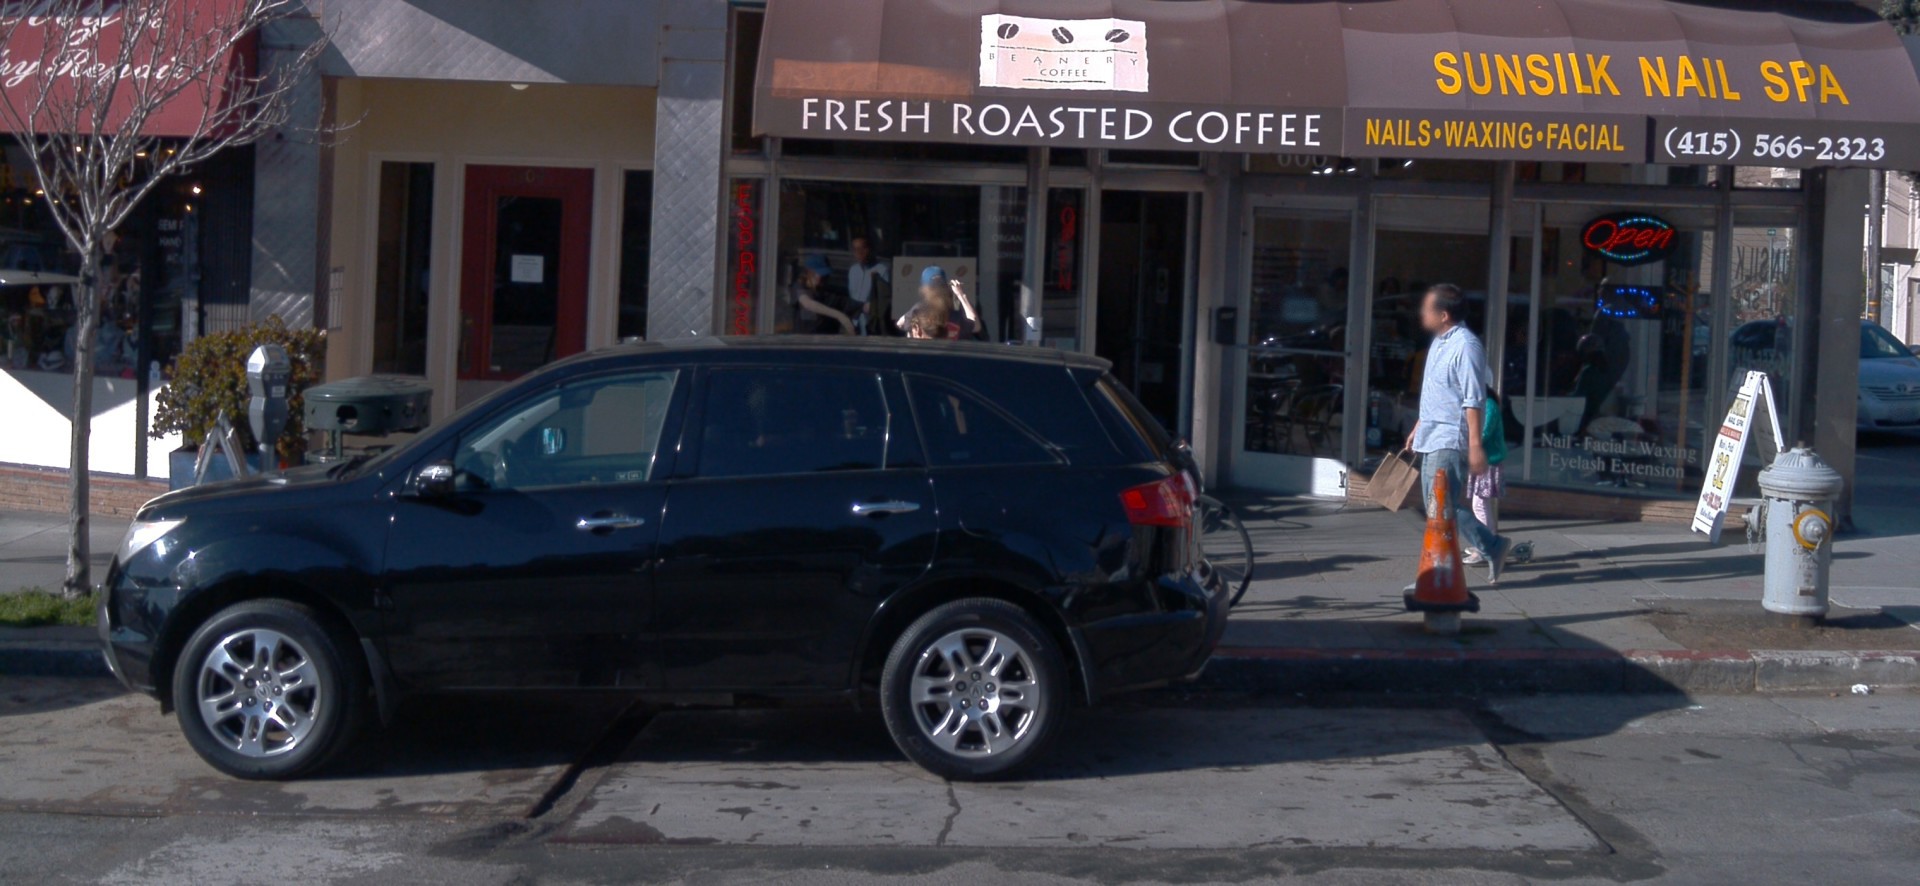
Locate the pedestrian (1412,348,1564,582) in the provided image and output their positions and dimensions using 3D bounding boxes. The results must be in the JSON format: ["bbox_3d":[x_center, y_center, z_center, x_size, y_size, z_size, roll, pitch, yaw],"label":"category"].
[{"bbox_3d":[3.149,0.115,12.434,0.720,1.307,0.671,1,2,-1],"label":"pedestrian"}]

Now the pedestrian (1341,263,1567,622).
[{"bbox_3d":[2.745,-0.047,11.646,0.995,1.885,1.032,1,2,-1],"label":"pedestrian"}]

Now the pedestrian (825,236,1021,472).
[{"bbox_3d":[-0.270,-0.631,13.806,0.882,1.456,1.339,0,4,-22],"label":"pedestrian"}]

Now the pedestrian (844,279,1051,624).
[{"bbox_3d":[-0.041,0.000,11.432,1.044,1.746,1.146,1,3,2],"label":"pedestrian"}]
